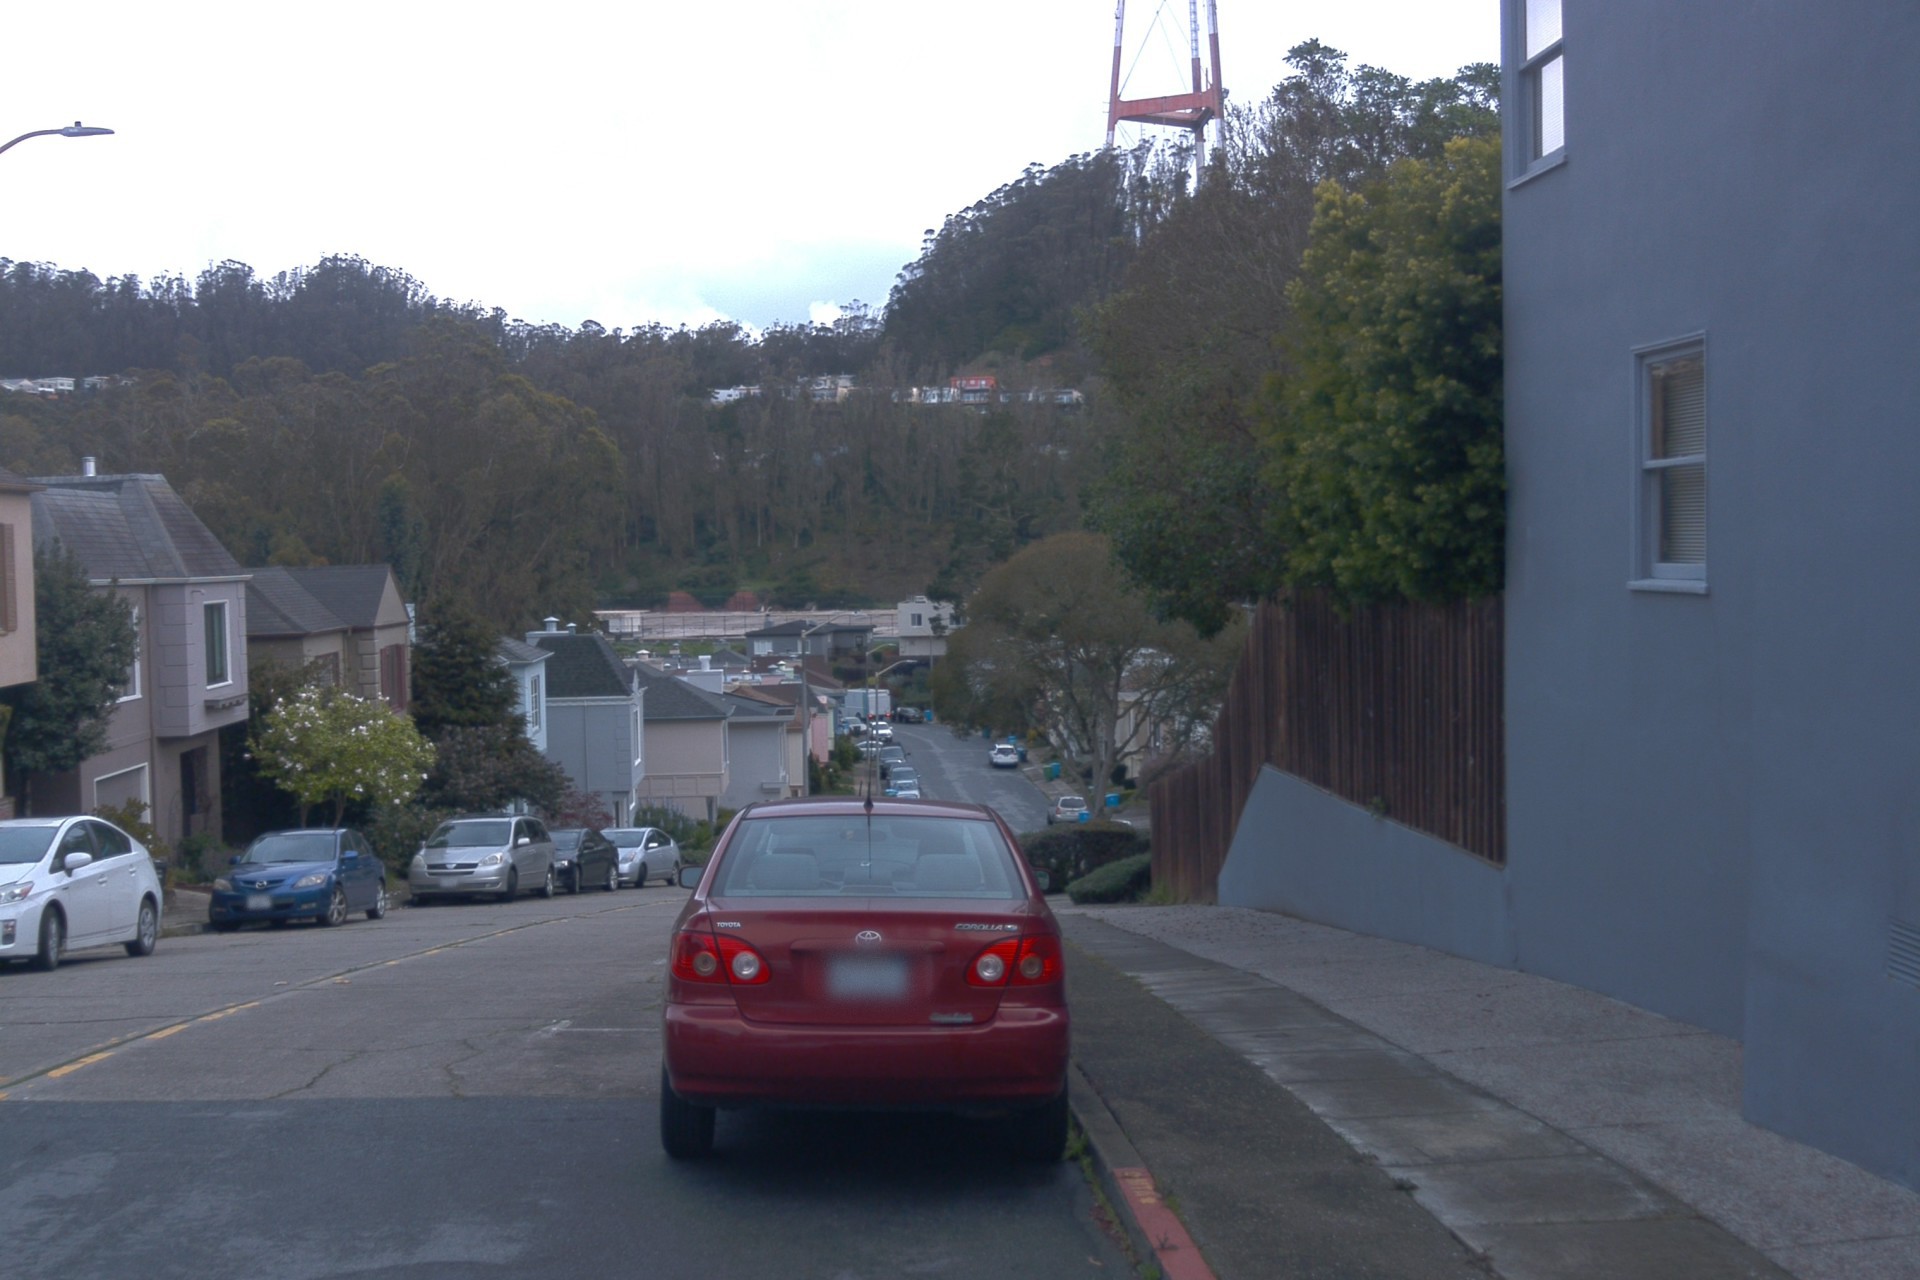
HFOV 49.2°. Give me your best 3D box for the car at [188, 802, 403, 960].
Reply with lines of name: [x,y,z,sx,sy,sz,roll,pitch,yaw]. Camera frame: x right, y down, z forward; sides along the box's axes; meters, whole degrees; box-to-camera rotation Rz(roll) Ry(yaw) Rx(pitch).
car: [-9.795,3.512,31.241,2.023,1.850,4.440,1,0,-3]

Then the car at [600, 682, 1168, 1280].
car: [-0.396,1.326,10.092,2.067,2.152,4.777,1,0,-3]
